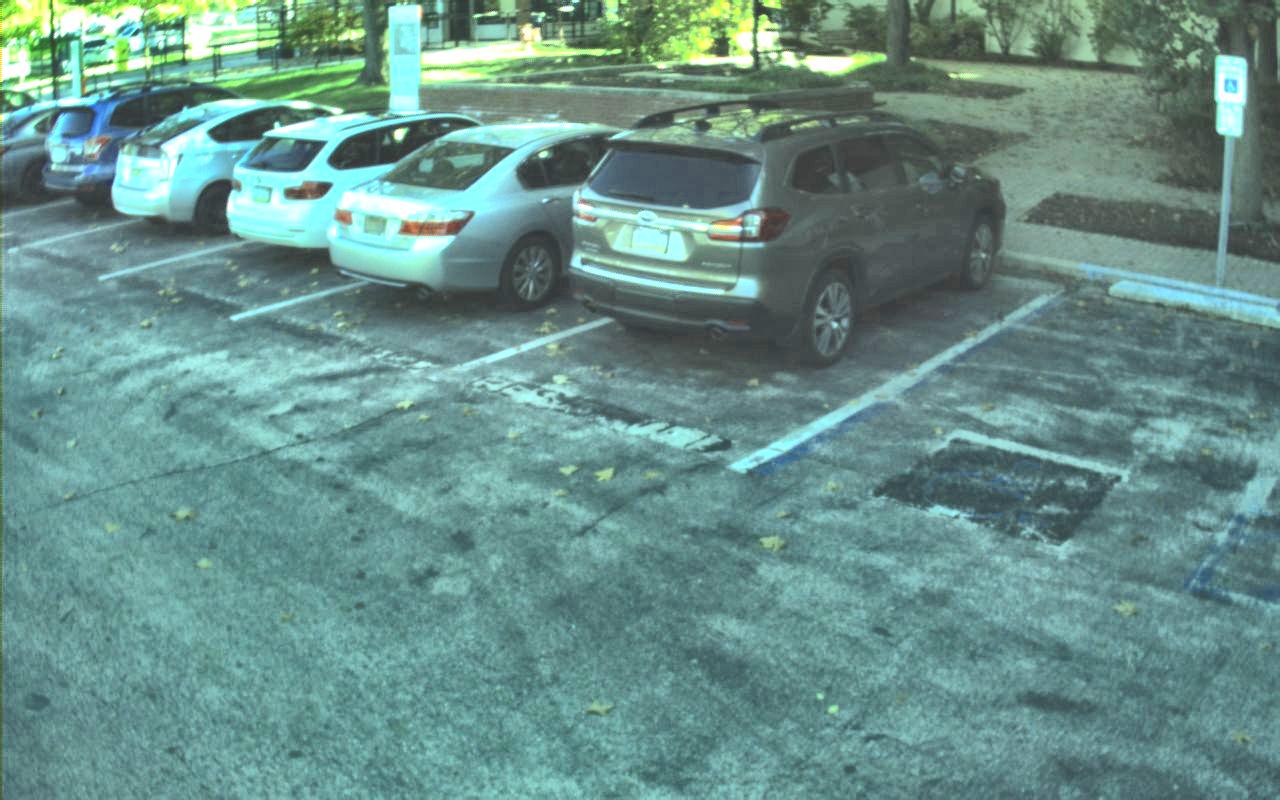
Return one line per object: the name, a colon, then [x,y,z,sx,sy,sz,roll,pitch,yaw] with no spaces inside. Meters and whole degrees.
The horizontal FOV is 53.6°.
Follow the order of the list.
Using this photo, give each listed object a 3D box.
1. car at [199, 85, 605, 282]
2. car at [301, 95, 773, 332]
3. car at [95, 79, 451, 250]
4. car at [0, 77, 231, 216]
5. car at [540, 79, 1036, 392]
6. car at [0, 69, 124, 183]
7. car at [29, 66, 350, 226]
car: [-2.524,-2.543,13.595,1.908,1.579,4.375,11,21,37]
car: [-0.789,-1.954,11.736,1.916,1.536,4.463,12,21,38]
car: [-4.643,-3.086,15.214,1.898,1.579,4.315,13,22,40]
car: [-8.878,-4.090,18.255,1.939,1.586,4.440,12,21,38]
car: [1.528,-1.642,10.245,2.019,1.788,4.715,11,20,36]
car: [-12.898,-5.560,22.440,1.966,1.687,4.563,12,21,38]
car: [-6.487,-3.710,16.835,1.956,1.687,4.456,12,21,39]
